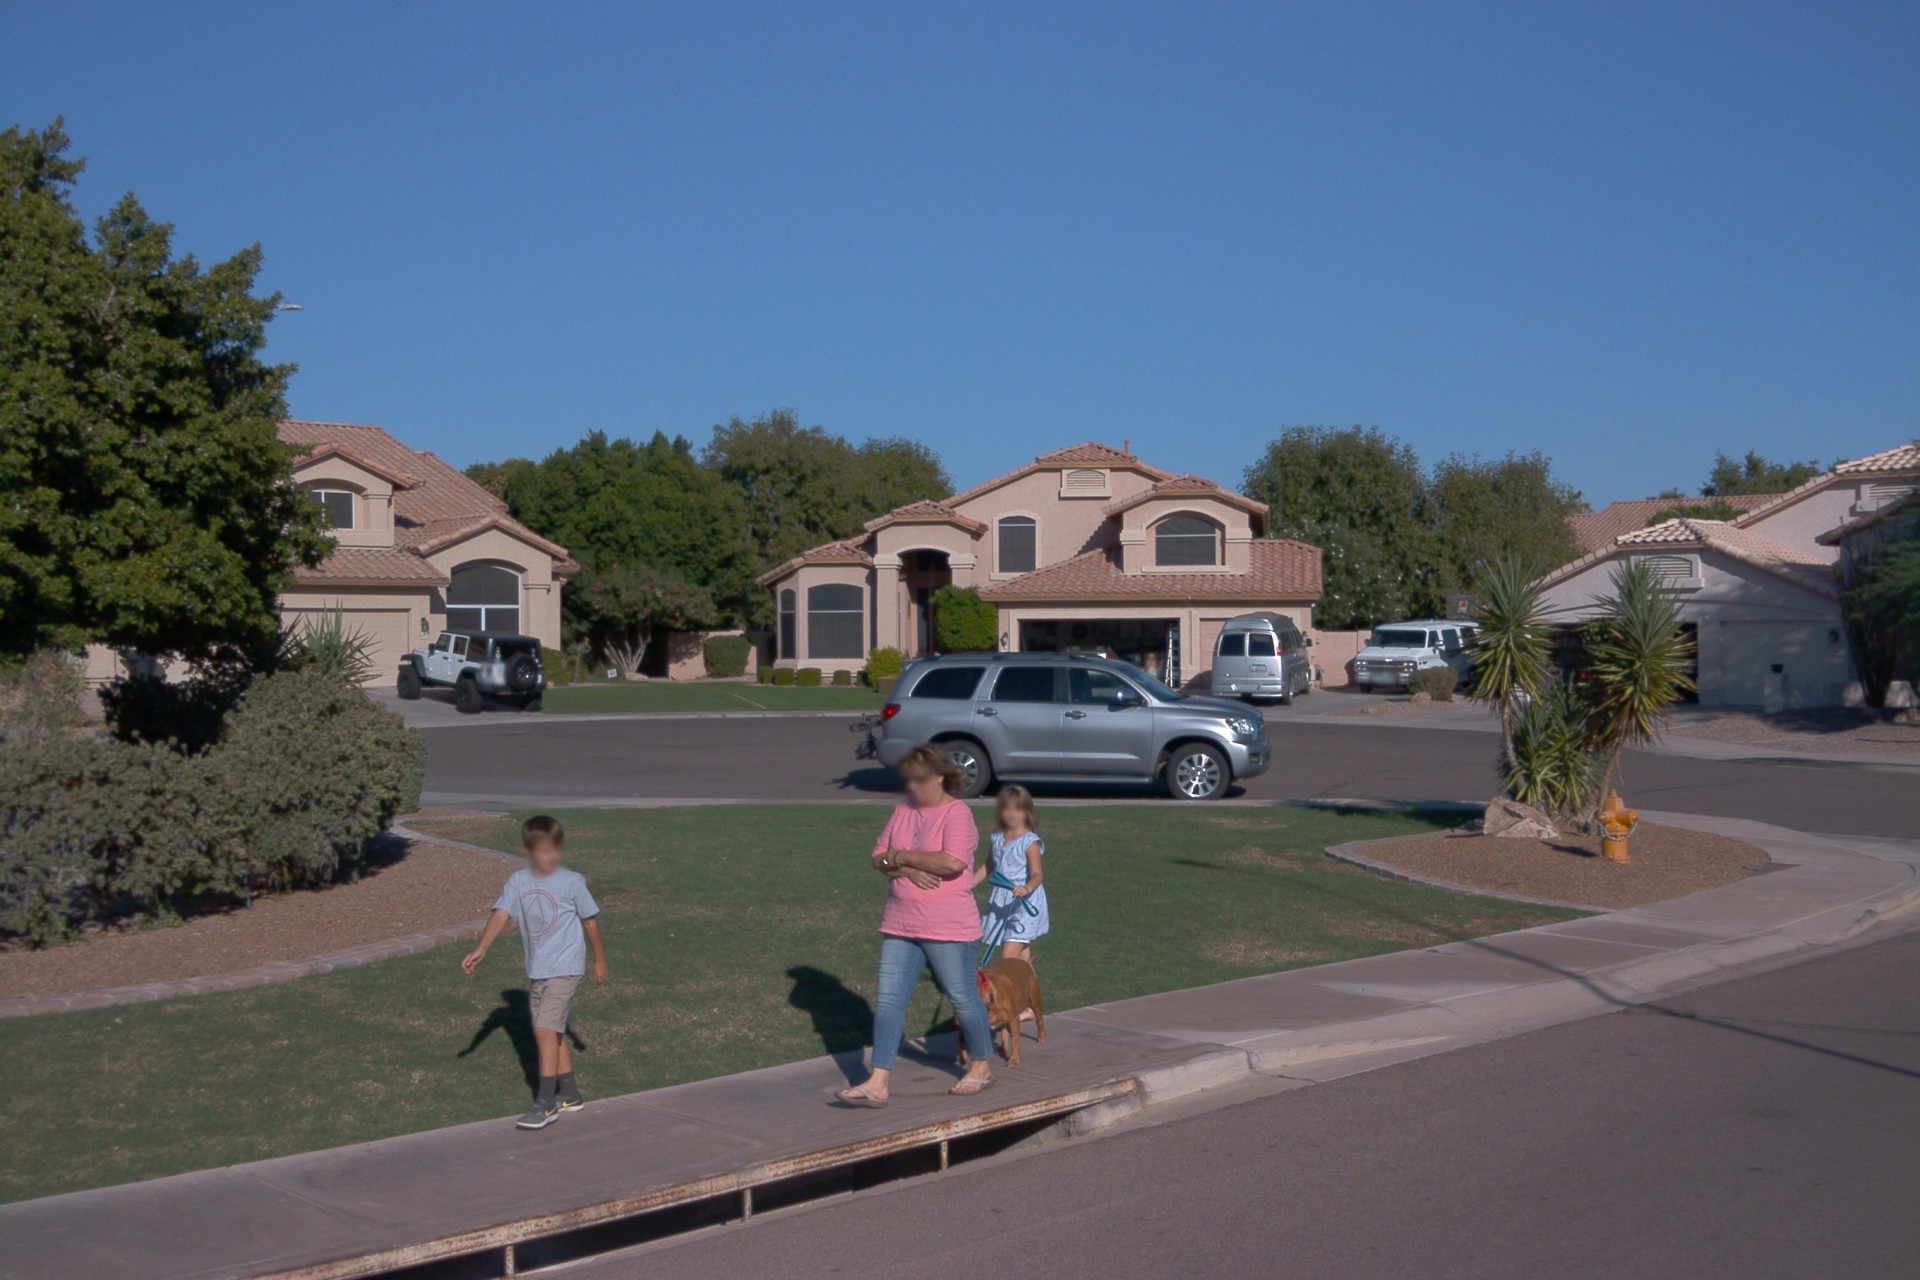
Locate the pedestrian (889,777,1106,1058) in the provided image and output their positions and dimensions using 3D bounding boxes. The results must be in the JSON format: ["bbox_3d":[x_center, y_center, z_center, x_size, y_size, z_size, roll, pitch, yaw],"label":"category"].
[{"bbox_3d":[0.202,1.433,11.041,0.783,1.340,0.842,0,0,42],"label":"pedestrian"}]

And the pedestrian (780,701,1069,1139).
[{"bbox_3d":[-0.157,1.195,9.387,0.881,1.800,0.952,0,0,44],"label":"pedestrian"}]

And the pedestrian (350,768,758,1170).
[{"bbox_3d":[-1.752,1.340,9.006,1.198,1.460,1.268,0,0,43],"label":"pedestrian"}]

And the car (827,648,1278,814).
[{"bbox_3d":[1.322,1.149,28.012,5.686,2.060,2.563,0,0,12],"label":"car"}]
